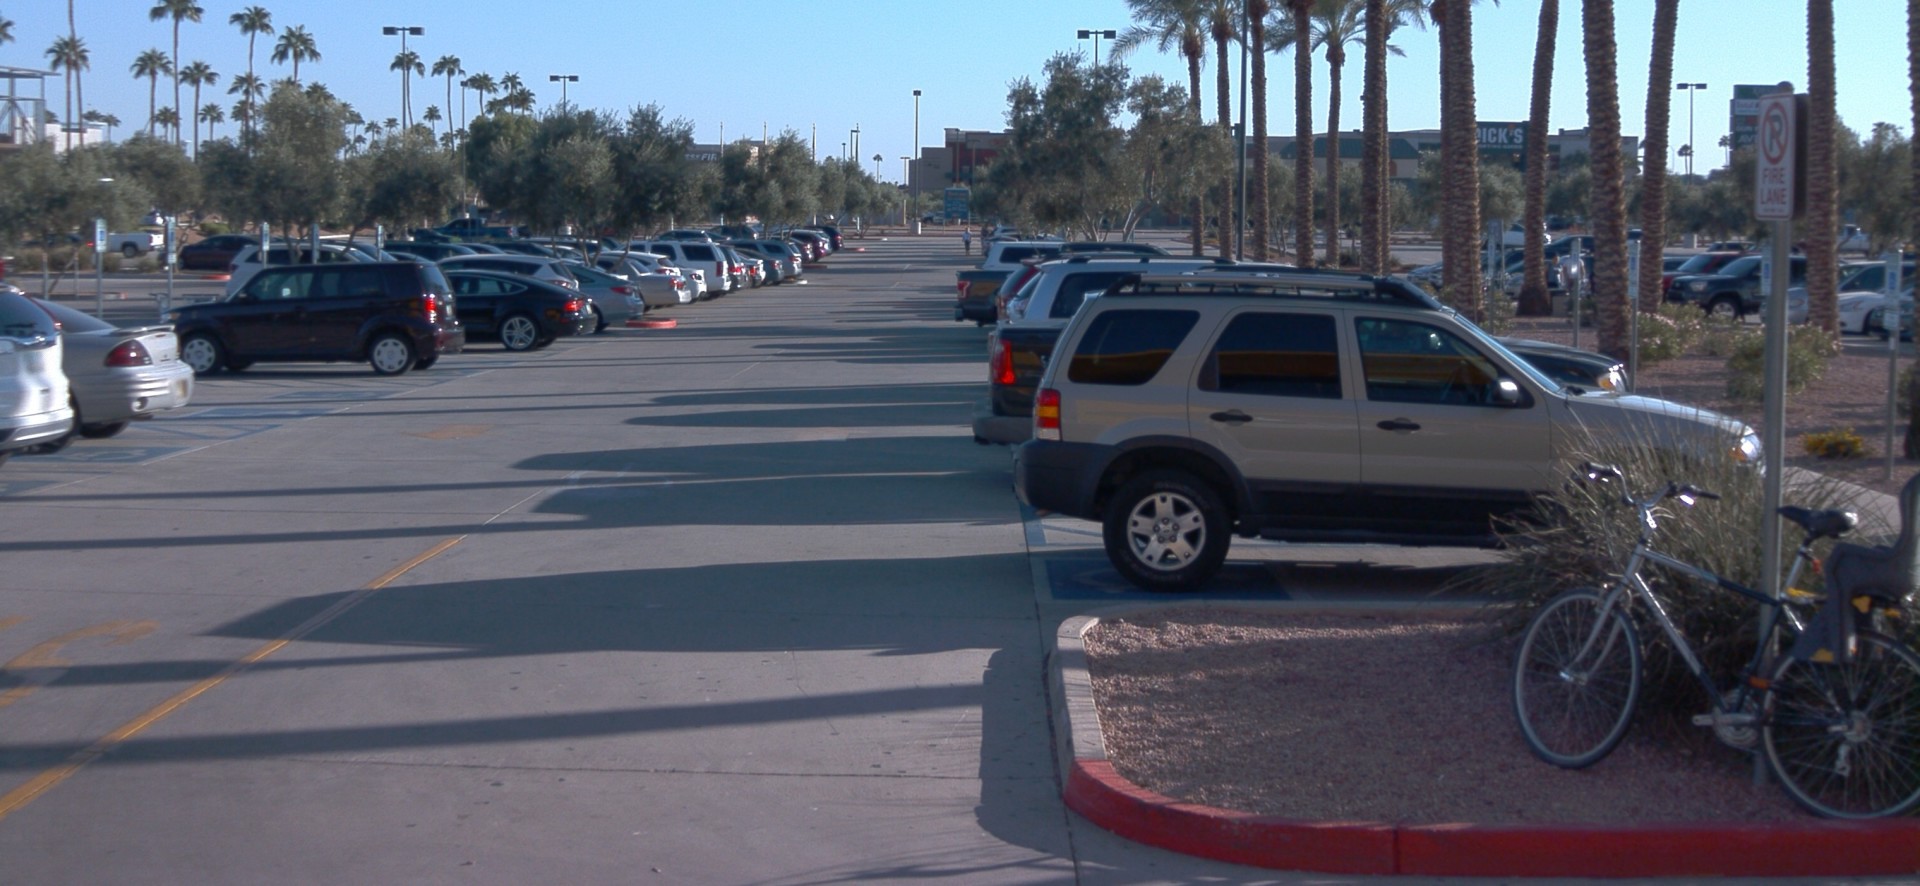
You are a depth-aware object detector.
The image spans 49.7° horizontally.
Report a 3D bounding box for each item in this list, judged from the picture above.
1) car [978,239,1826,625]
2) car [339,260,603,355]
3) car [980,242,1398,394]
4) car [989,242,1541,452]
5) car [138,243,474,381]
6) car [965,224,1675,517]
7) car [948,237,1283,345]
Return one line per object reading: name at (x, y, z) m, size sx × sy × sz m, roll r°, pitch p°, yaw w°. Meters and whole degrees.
car at (2.520, -0.184, 12.467) m, size 4.569 × 1.986 × 2.008 m, roll 2°, pitch 3°, yaw 7°
car at (-8.473, -2.386, 36.209) m, size 4.169 × 1.516 × 1.898 m, roll 1°, pitch 4°, yaw -2°
car at (2.834, -1.642, 26.501) m, size 5.084 × 1.755 × 2.150 m, roll 1°, pitch 4°, yaw 1°
car at (2.818, -0.990, 19.929) m, size 4.916 × 1.765 × 2.428 m, roll 1°, pitch 4°, yaw 4°
car at (-9.215, -1.889, 29.479) m, size 4.169 × 1.816 × 1.897 m, roll 1°, pitch 3°, yaw -2°
car at (2.751, -0.672, 16.888) m, size 5.349 × 2.135 × 2.267 m, roll 1°, pitch 4°, yaw 1°
car at (2.832, -2.890, 39.077) m, size 6.084 × 1.845 × 2.452 m, roll 1°, pitch 4°, yaw -1°
